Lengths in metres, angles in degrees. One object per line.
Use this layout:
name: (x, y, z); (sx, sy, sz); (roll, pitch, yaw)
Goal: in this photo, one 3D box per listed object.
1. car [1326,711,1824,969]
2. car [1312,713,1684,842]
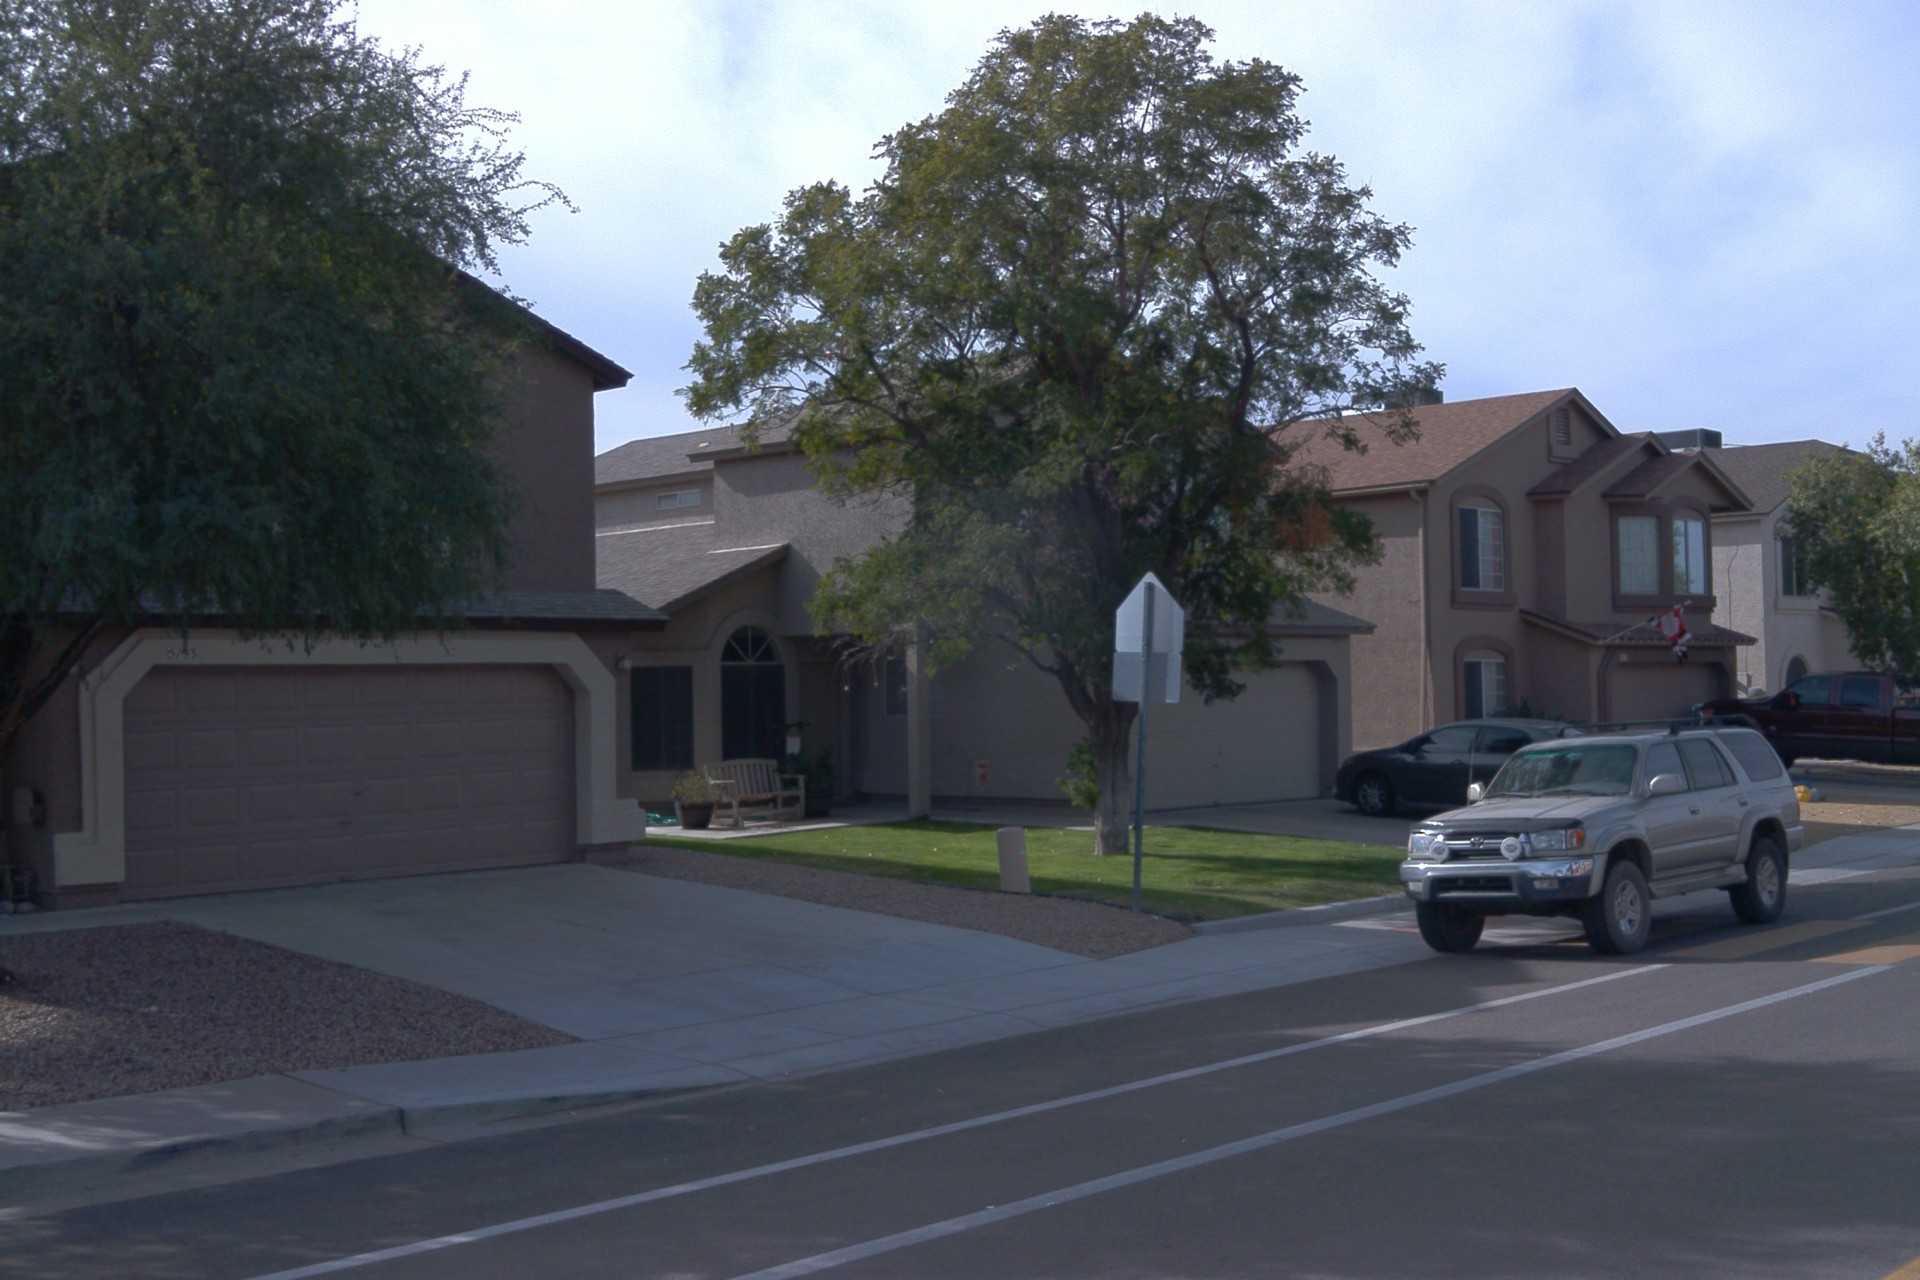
car: (5.547, 1.606, 18.417); (2.211, 1.850, 4.921); (0, -1, 43)
car: (7.275, 1.805, 28.521); (2.158, 1.490, 4.448); (1, -1, -44)
